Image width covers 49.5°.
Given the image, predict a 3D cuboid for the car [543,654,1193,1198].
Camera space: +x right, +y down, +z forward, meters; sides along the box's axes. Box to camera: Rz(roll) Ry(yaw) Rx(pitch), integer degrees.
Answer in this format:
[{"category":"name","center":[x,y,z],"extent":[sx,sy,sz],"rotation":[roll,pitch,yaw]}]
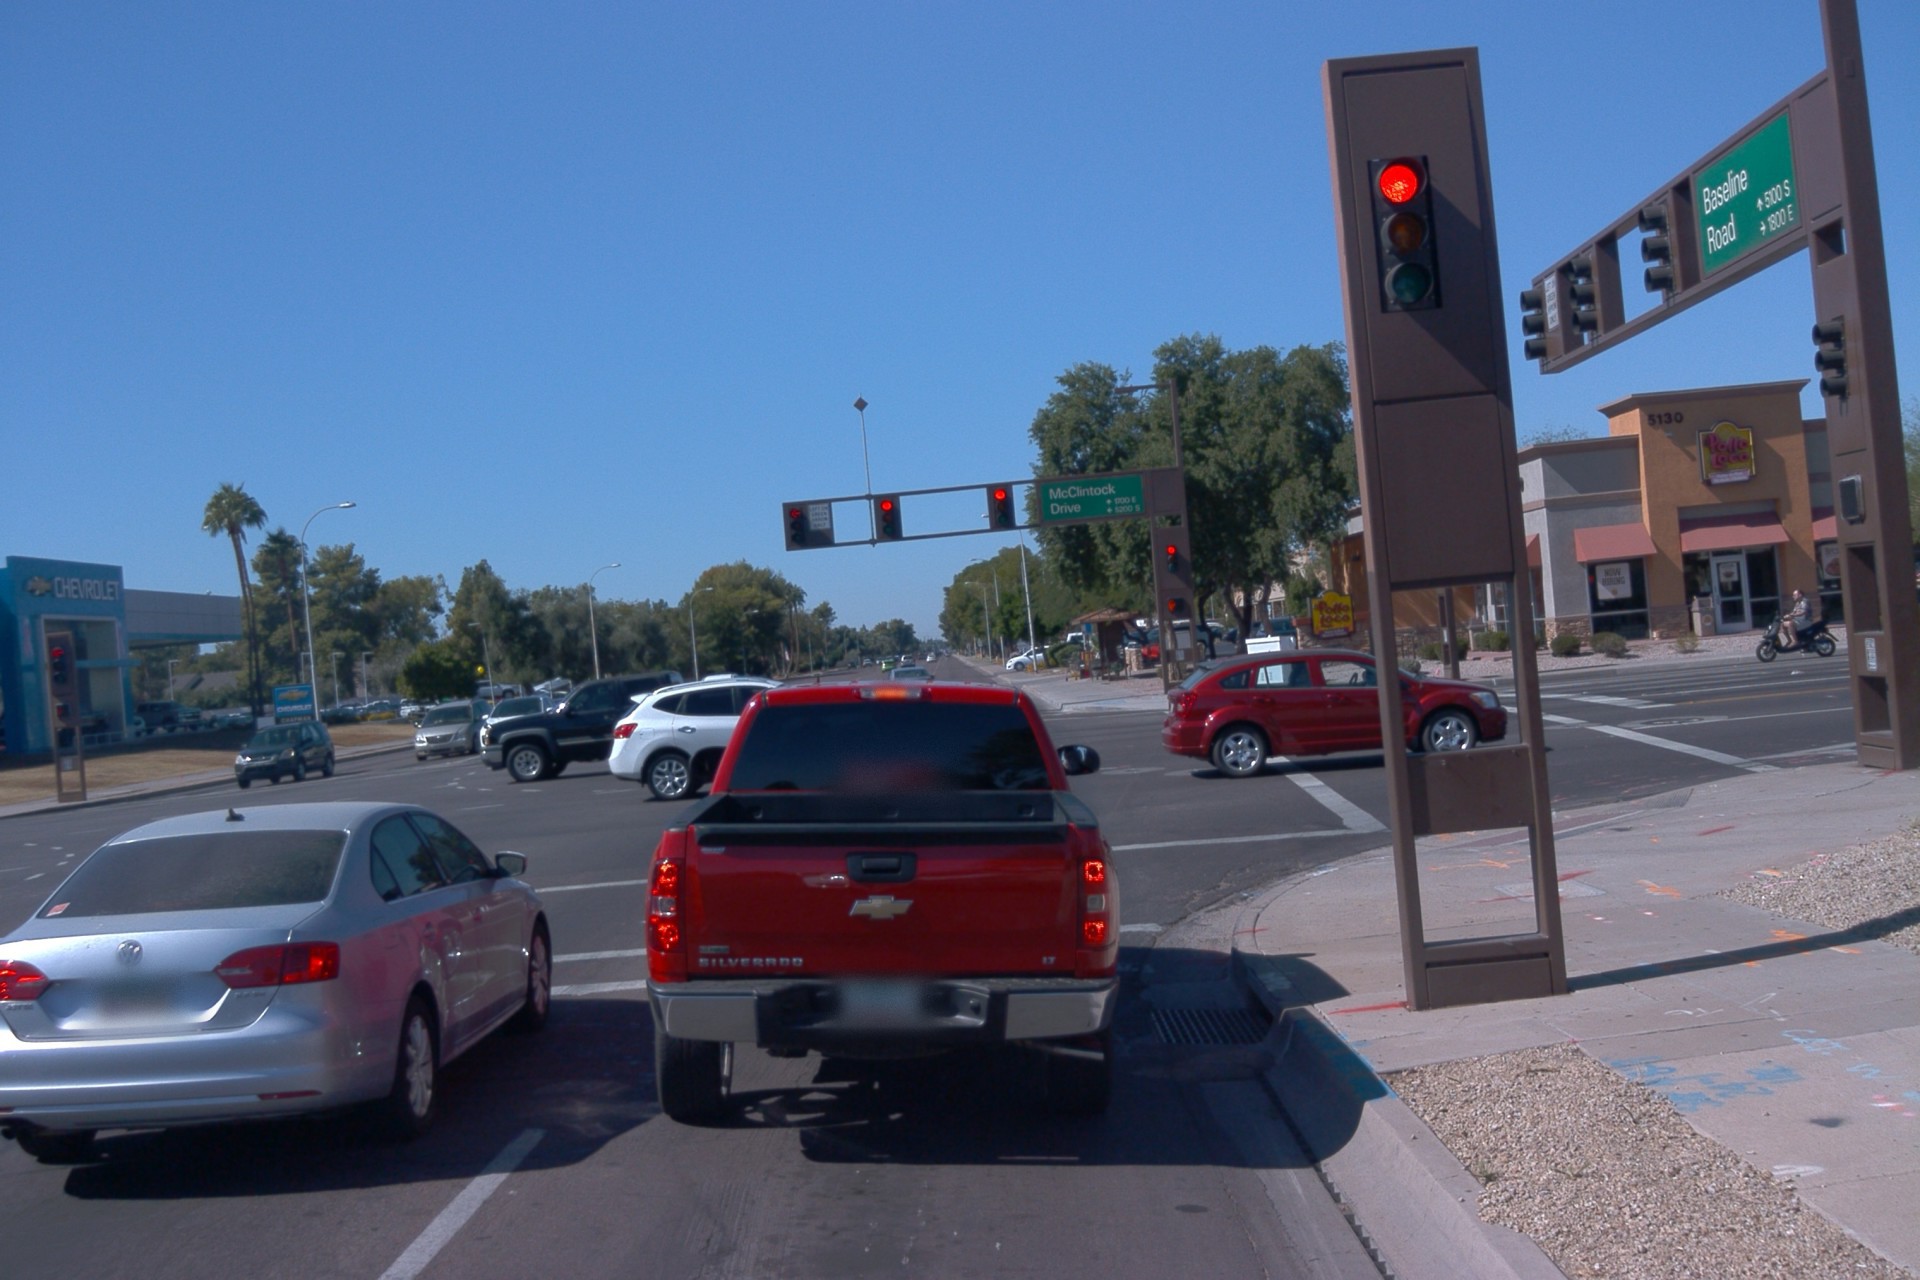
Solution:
[{"category":"car","center":[-0.393,1.171,11.091],"extent":[2.538,2.120,5.758],"rotation":[1,-1,-1]}]

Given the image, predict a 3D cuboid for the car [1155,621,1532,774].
[{"category":"car","center":[4.793,0.719,26.505],"extent":[4.471,1.830,1.846],"rotation":[1,-1,2]}]

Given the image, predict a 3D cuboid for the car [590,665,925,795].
[{"category":"car","center":[-2.870,1.286,30.339],"extent":[4.642,1.780,2.074],"rotation":[1,-1,1]}]
